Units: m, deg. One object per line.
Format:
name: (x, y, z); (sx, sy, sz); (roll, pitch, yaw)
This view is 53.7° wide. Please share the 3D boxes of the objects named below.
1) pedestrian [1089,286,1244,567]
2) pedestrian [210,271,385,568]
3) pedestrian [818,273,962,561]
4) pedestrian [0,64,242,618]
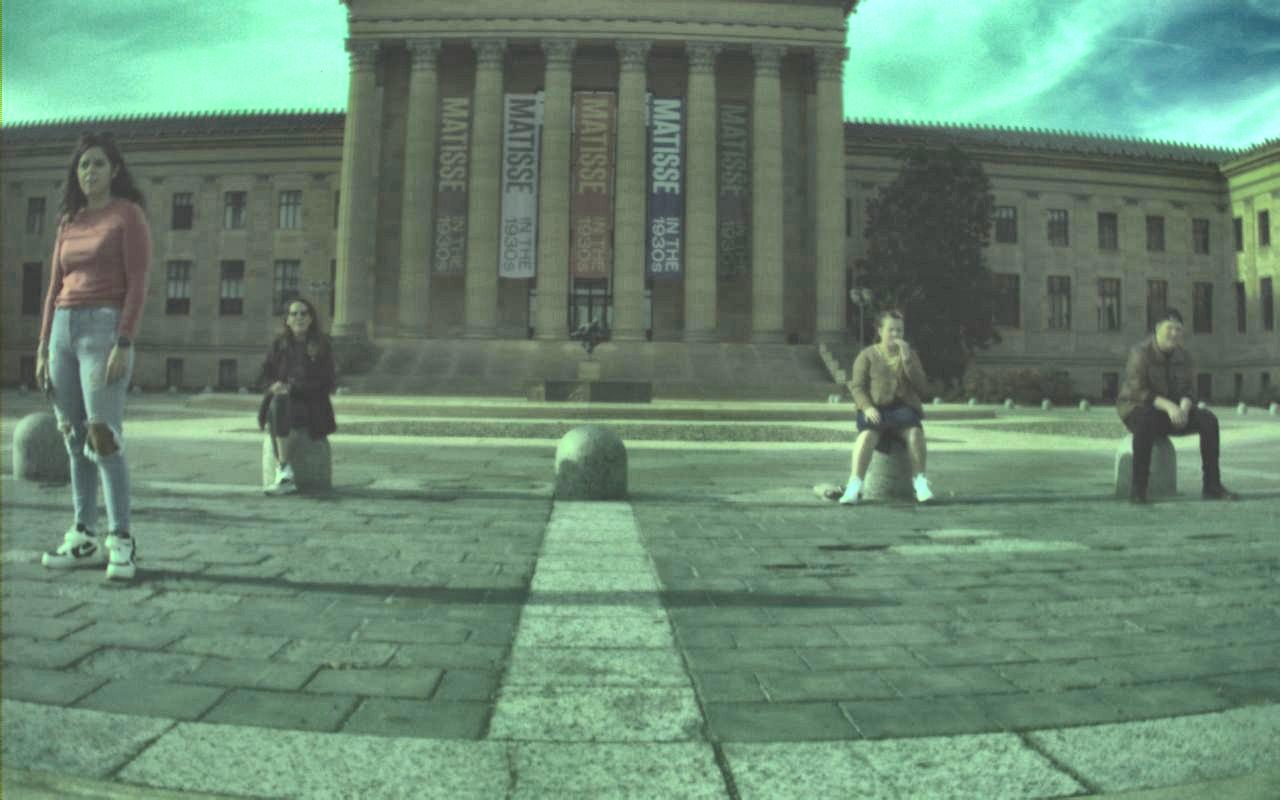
pedestrian: (3.519, 0.181, 7.843); (0.844, 1.778, 0.859); (0, 0, 5)
pedestrian: (-2.179, 0.113, 7.717); (0.809, 1.757, 0.813); (1, 0, 26)
pedestrian: (1.586, 0.104, 7.966); (0.809, 1.750, 0.811); (0, 0, 3)
pedestrian: (-1.973, -0.200, 4.186); (0.777, 1.811, 0.788); (0, 0, 8)
